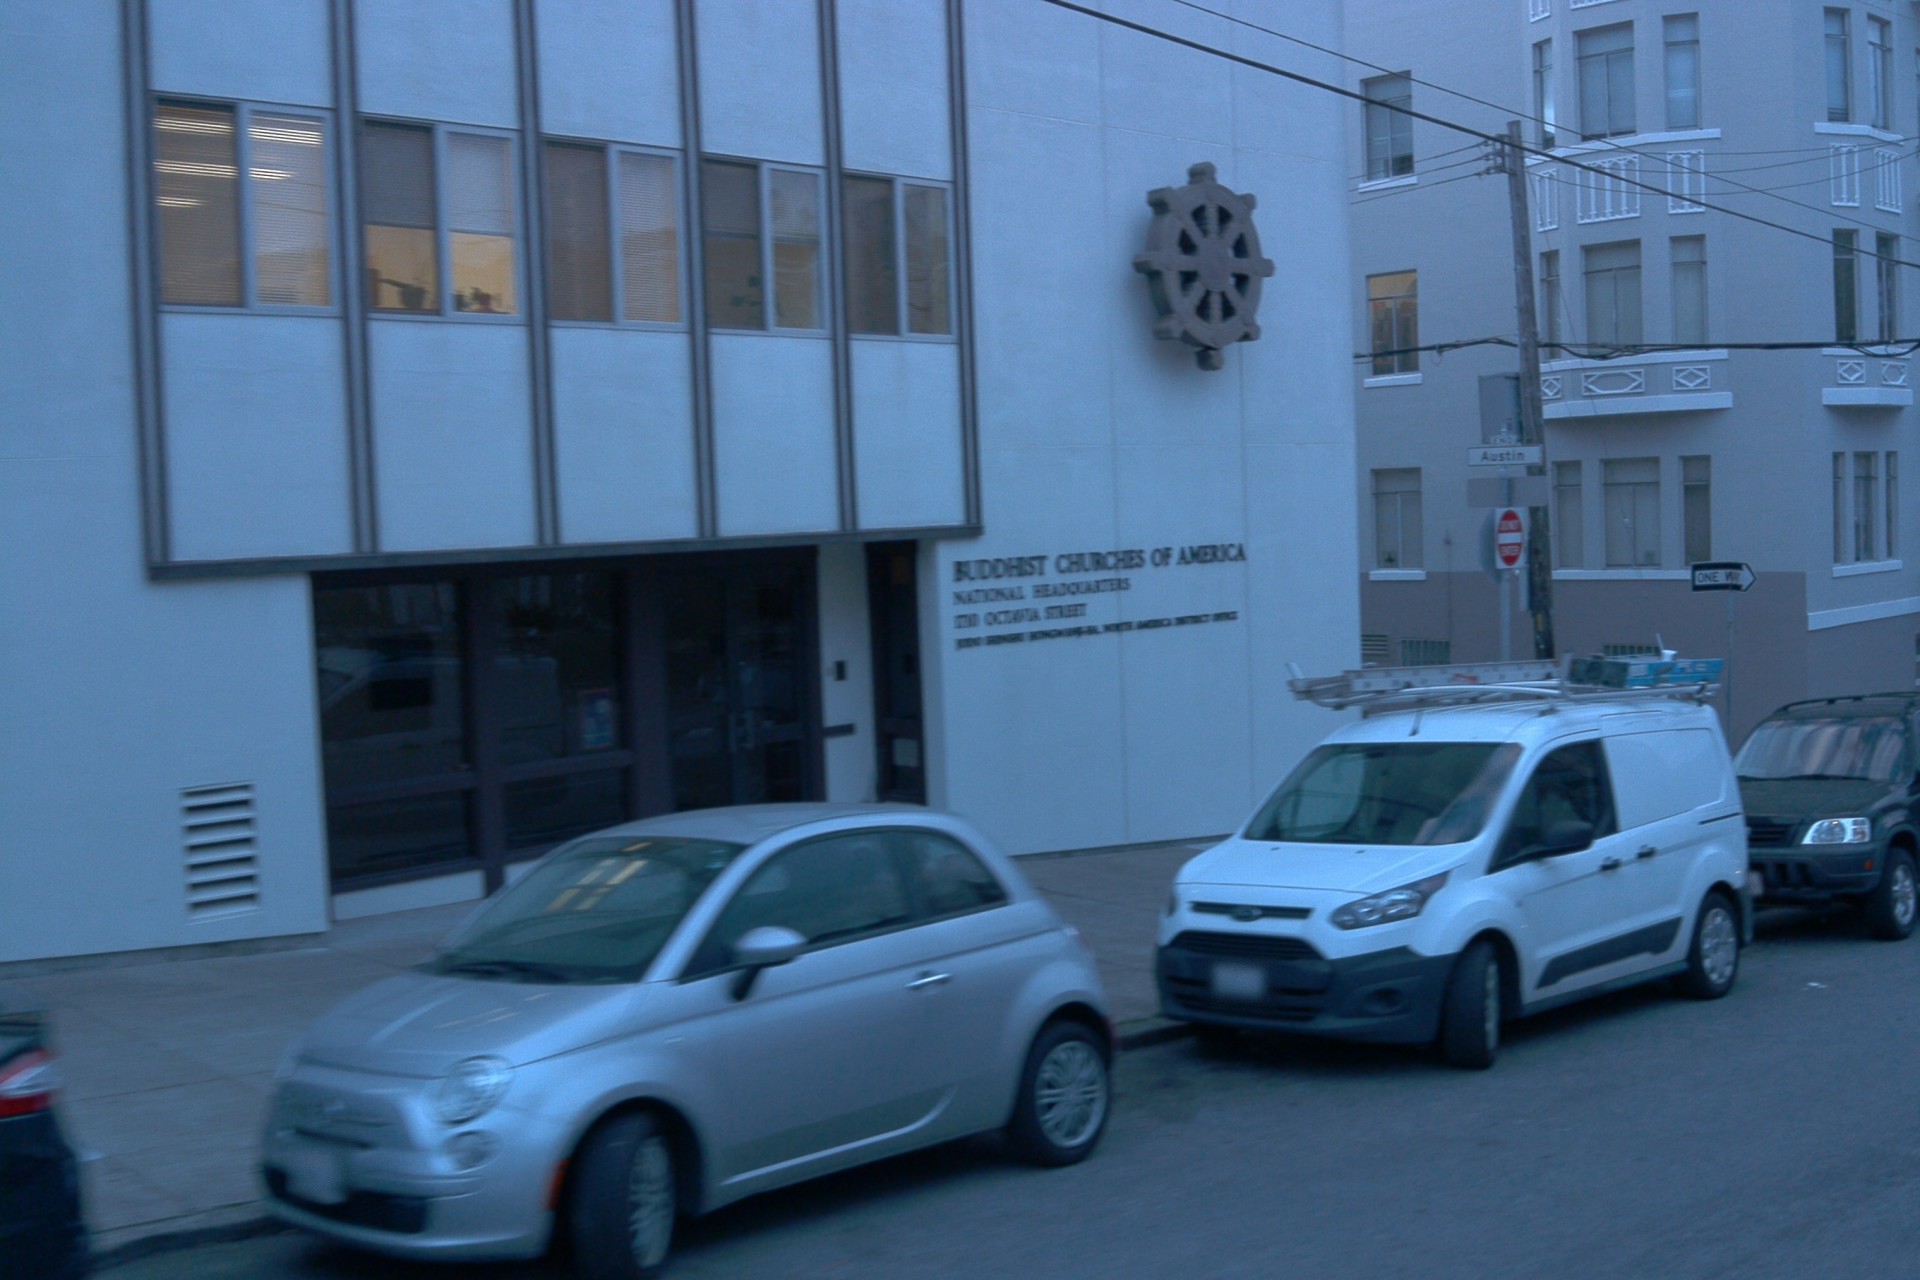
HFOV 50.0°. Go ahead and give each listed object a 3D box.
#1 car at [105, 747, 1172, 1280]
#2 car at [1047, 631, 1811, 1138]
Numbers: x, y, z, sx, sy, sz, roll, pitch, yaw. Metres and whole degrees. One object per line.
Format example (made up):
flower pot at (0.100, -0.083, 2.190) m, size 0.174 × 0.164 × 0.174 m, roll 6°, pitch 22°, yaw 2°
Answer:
car at (-1.038, 1.364, 7.712) m, size 1.875 × 1.680 × 3.541 m, roll 1°, pitch 1°, yaw 43°
car at (2.776, 1.086, 11.533) m, size 2.162 × 2.250 × 4.379 m, roll 1°, pitch 1°, yaw 45°
